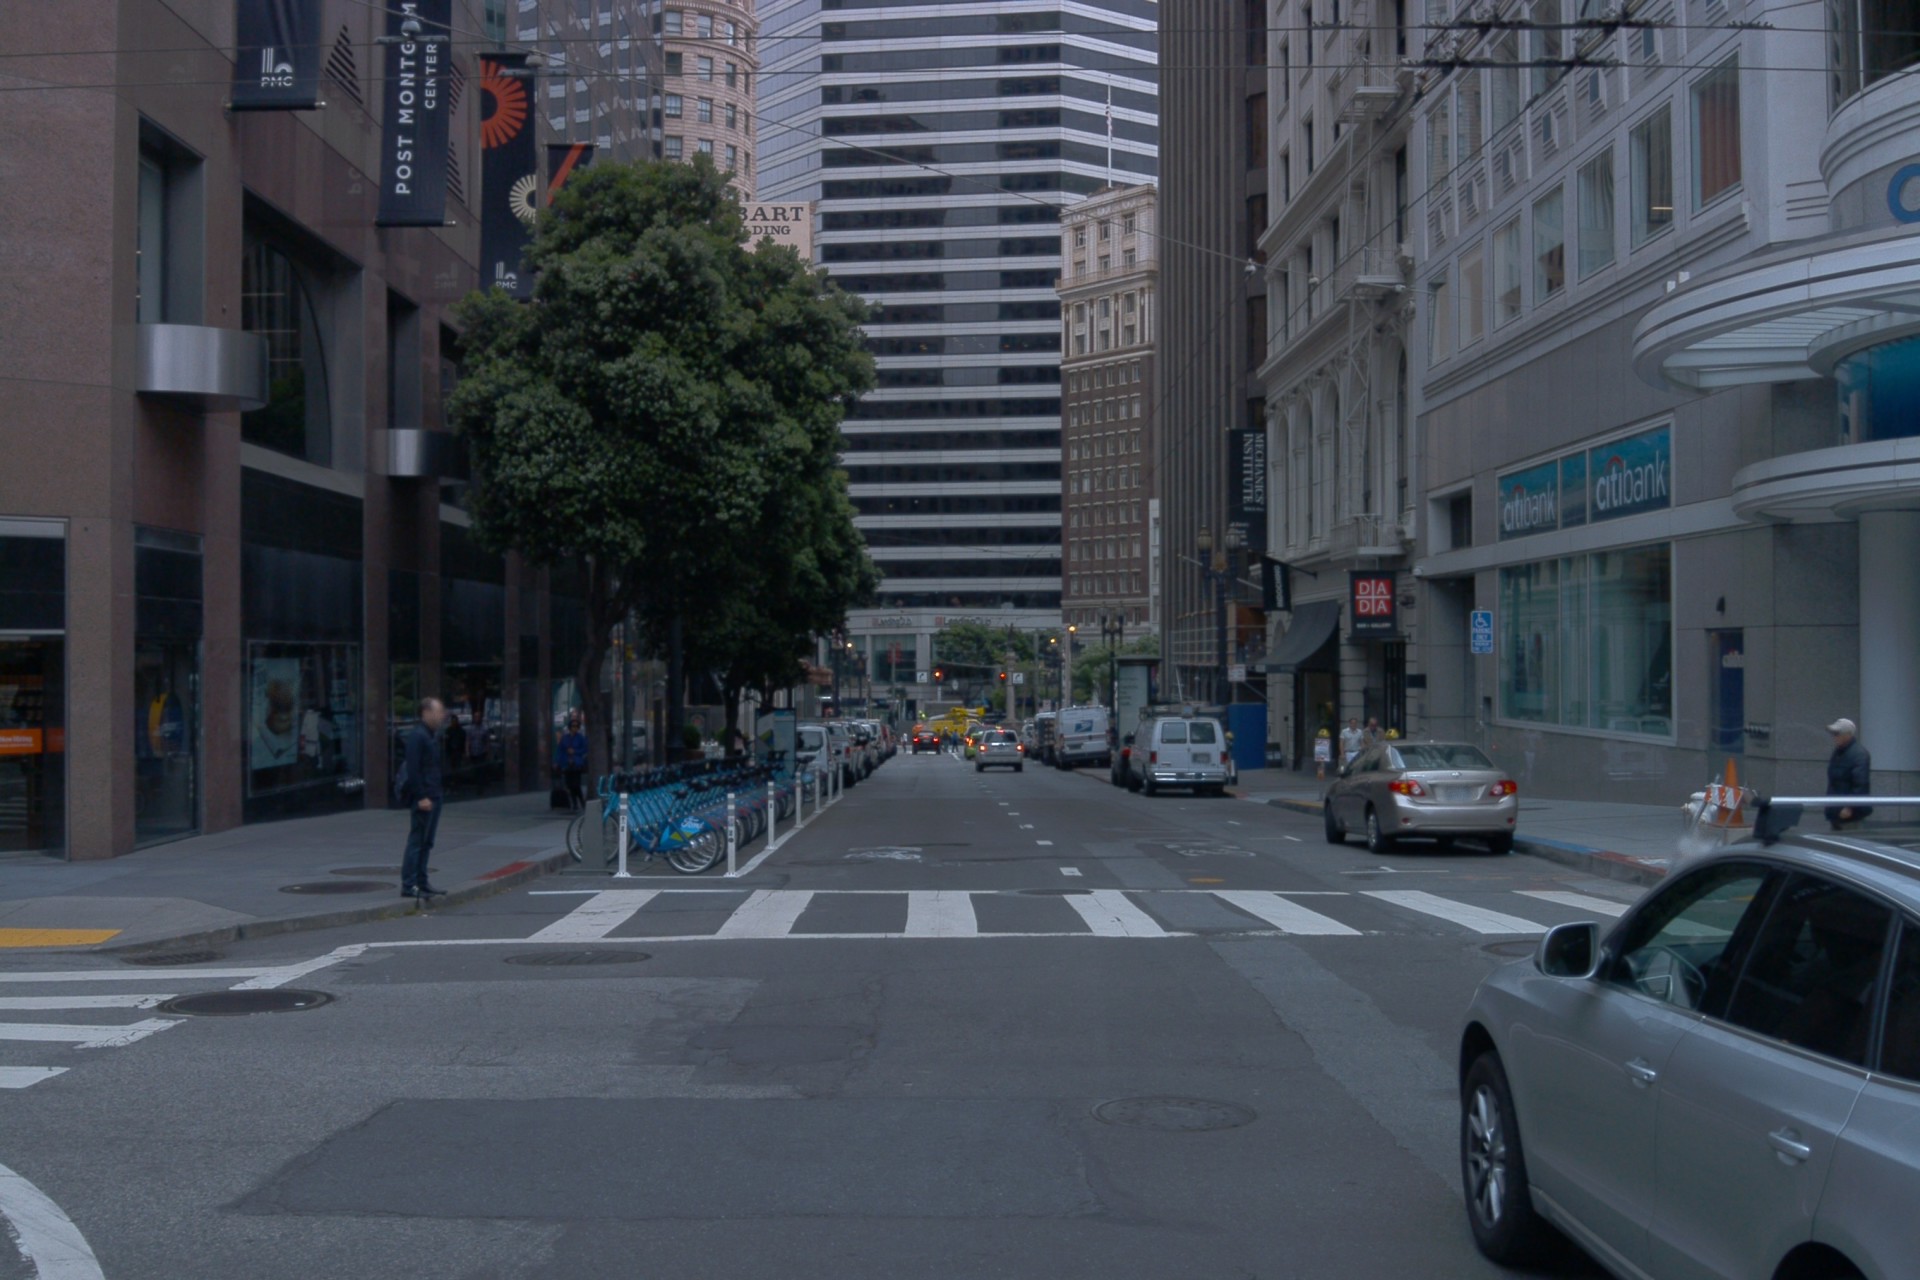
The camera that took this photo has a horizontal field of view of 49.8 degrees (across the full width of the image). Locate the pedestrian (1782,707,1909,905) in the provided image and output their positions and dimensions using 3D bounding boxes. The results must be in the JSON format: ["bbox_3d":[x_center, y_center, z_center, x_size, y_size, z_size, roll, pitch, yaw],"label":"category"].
[{"bbox_3d":[8.227,1.524,19.216,0.803,1.760,0.793,-1,1,-5],"label":"pedestrian"}]

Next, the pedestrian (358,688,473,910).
[{"bbox_3d":[-5.018,1.445,19.075,0.775,1.970,0.820,0,1,5],"label":"pedestrian"}]

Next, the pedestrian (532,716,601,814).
[{"bbox_3d":[-6.937,2.191,36.441,0.943,1.660,1.157,0,1,2],"label":"pedestrian"}]

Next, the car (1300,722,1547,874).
[{"bbox_3d":[6.014,2.012,27.413,2.062,1.600,4.602,0,1,-2],"label":"car"}]
